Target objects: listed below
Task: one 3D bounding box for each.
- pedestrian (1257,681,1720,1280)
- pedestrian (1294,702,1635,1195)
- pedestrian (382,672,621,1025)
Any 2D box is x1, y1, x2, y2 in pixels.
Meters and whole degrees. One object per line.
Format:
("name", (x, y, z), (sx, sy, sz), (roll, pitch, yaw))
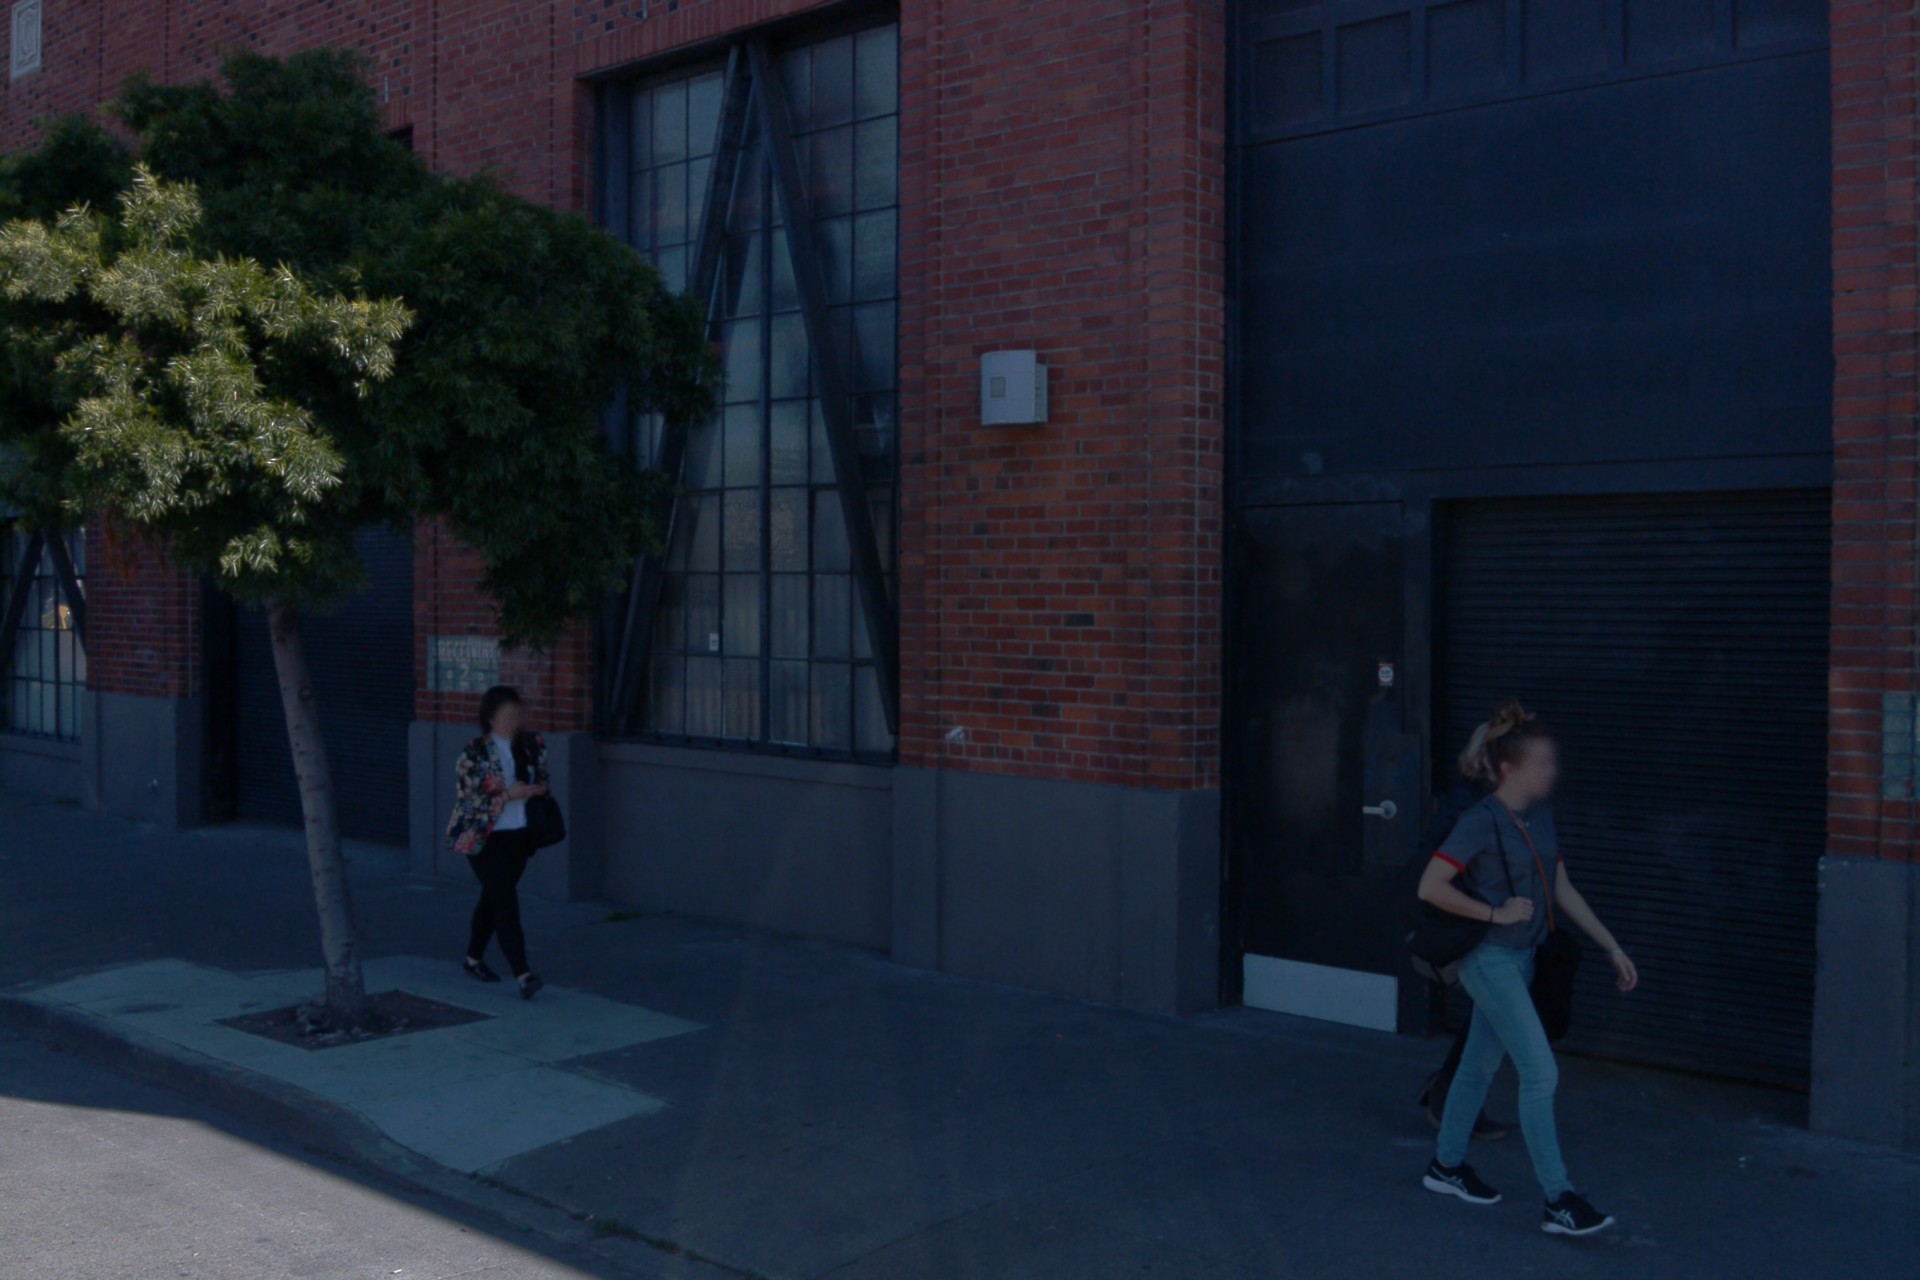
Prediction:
("pedestrian", (1.706, 1.039, 6.712), (0.857, 1.770, 1.155), (0, 1, -42))
("pedestrian", (1.880, 1.080, 7.686), (0.810, 1.650, 0.924), (0, 1, -43))
("pedestrian", (-2.333, 1.006, 10.458), (0.957, 1.660, 0.780), (1, 1, 45))
